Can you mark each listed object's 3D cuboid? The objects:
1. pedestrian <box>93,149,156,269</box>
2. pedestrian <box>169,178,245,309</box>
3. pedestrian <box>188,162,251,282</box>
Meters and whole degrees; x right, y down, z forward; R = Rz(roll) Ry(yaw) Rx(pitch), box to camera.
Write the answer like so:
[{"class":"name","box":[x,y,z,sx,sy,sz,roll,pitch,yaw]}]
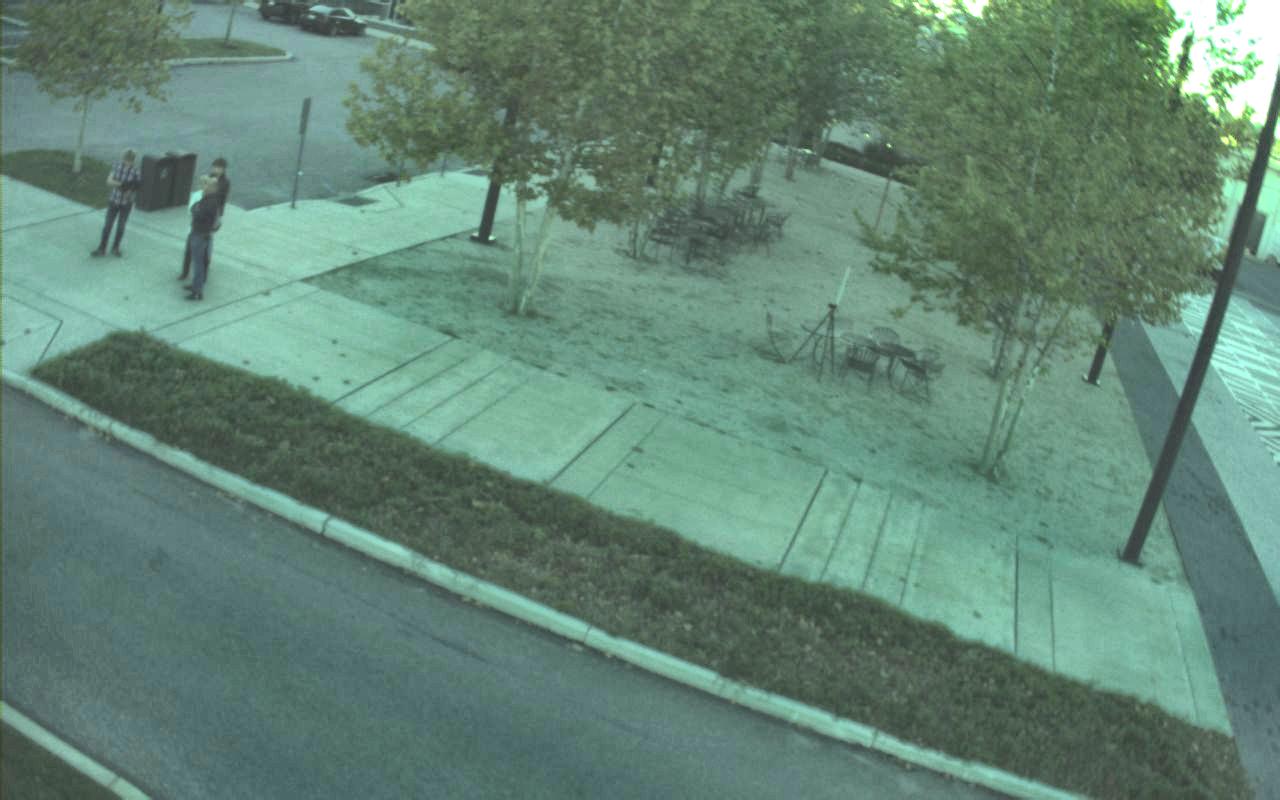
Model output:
[{"class":"pedestrian","box":[-8.343,-3.051,18.752,0.800,1.800,0.817,-3,15,-9]},{"class":"pedestrian","box":[-6.532,-2.341,17.954,0.773,1.829,0.778,9,18,34]},{"class":"pedestrian","box":[-6.820,-2.859,19.308,0.764,1.791,0.757,-12,18,-34]}]
